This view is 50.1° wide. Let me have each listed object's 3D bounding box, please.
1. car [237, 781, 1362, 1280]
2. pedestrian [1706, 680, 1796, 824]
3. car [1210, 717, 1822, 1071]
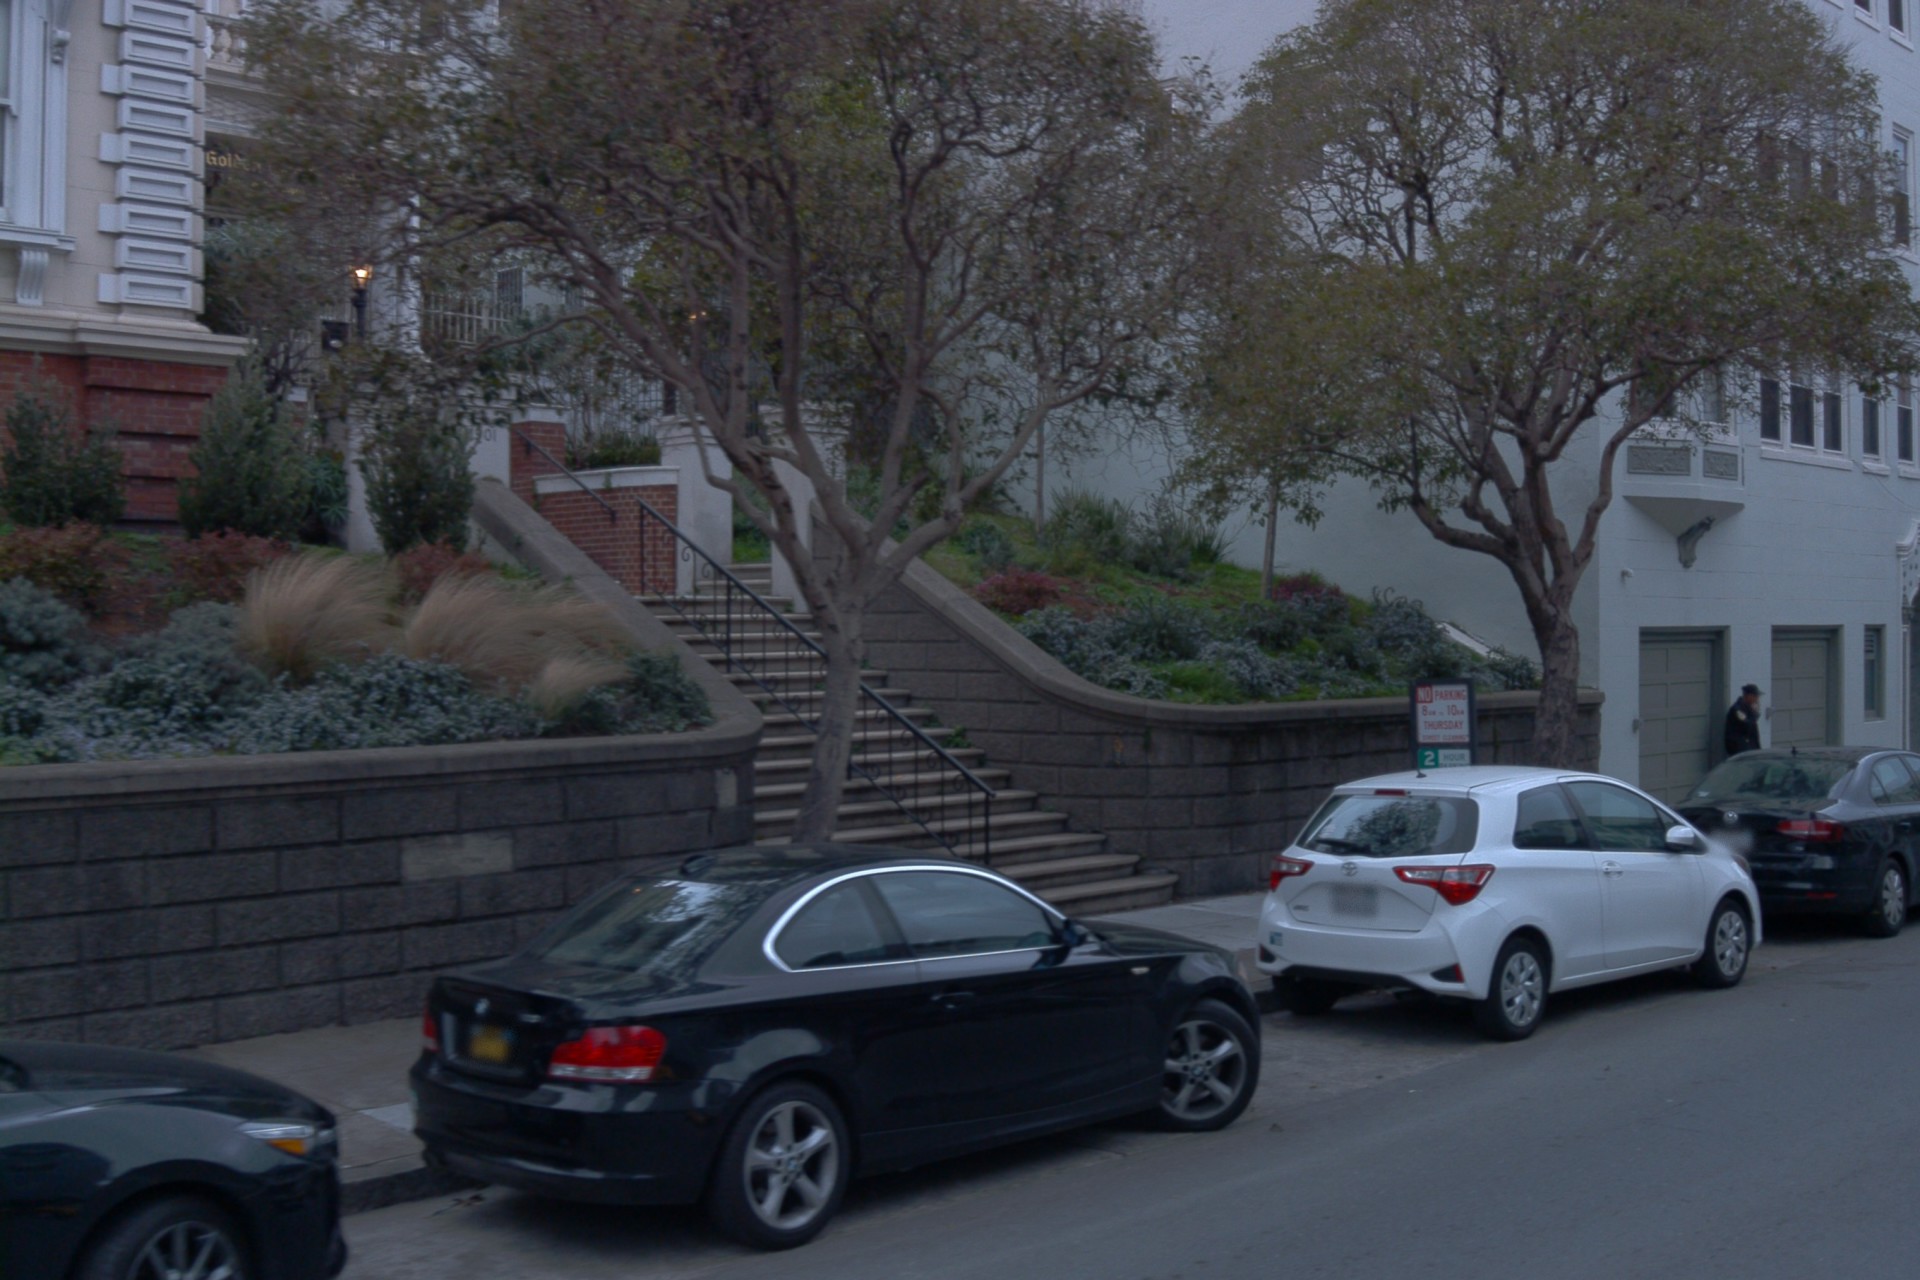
[{"bbox_3d":[-0.462,1.550,8.997,4.639,1.480,2.104,0,1,-45],"label":"car"},{"bbox_3d":[9.168,1.281,23.810,0.676,1.600,0.840,2,1,44],"label":"pedestrian"},{"bbox_3d":[3.643,1.441,13.073,4.119,1.700,1.813,0,1,-42],"label":"car"}]
